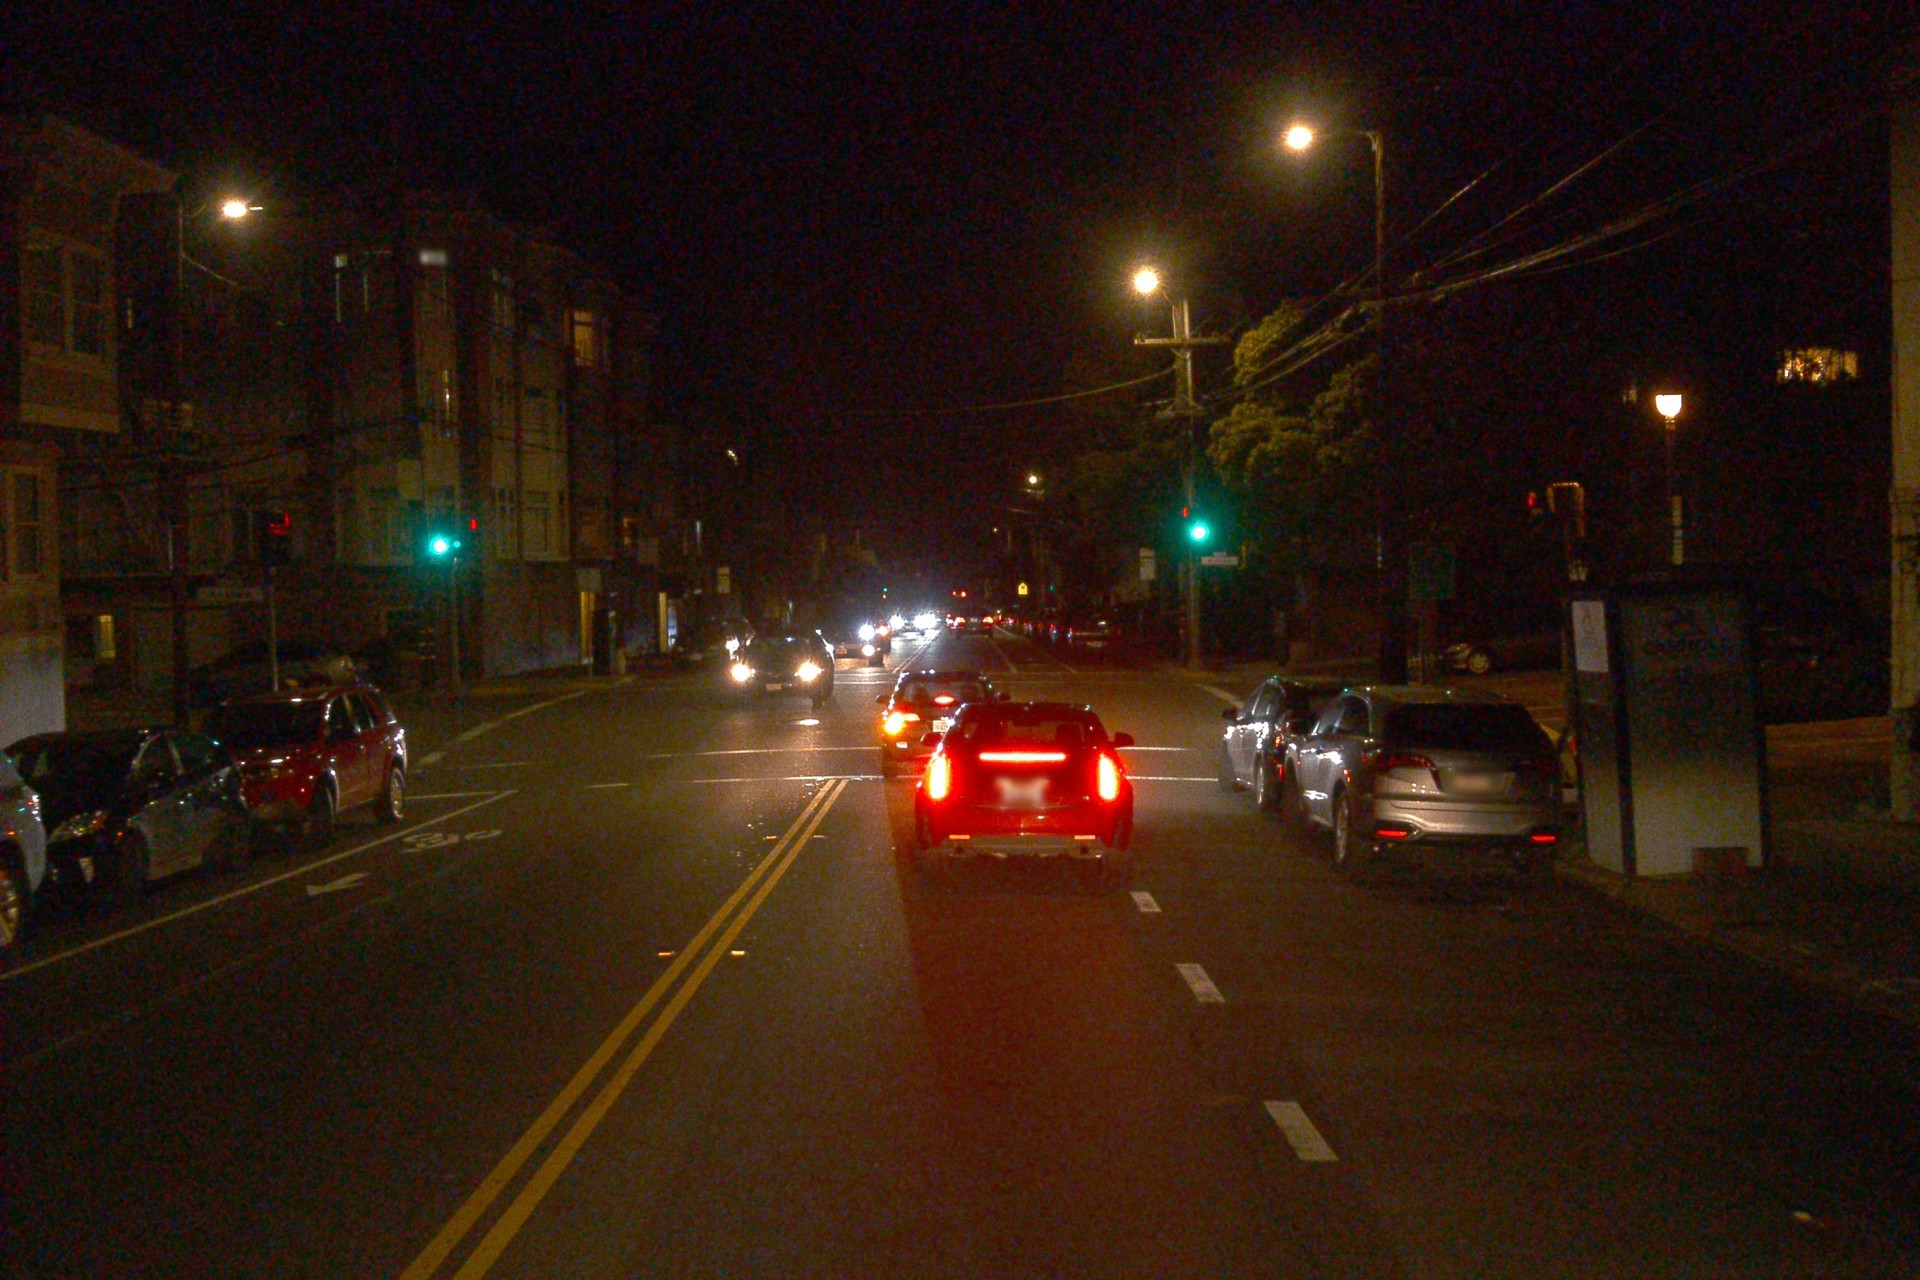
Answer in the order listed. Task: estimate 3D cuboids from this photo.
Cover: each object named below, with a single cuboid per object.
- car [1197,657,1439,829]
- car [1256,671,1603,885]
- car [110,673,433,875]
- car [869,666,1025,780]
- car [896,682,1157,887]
[{"bbox_3d":[4.234,1.164,24.943,2.084,1.830,4.587,1,0,0],"label":"car"},{"bbox_3d":[4.307,1.198,19.631,2.250,1.690,4.768,1,0,0],"label":"car"},{"bbox_3d":[-7.533,1.387,22.896,1.998,1.910,4.650,1,0,1],"label":"car"},{"bbox_3d":[-0.202,1.131,29.568,2.070,1.420,4.588,1,0,-1],"label":"car"},{"bbox_3d":[0.629,1.194,18.496,2.067,1.490,4.417,1,0,3],"label":"car"}]
